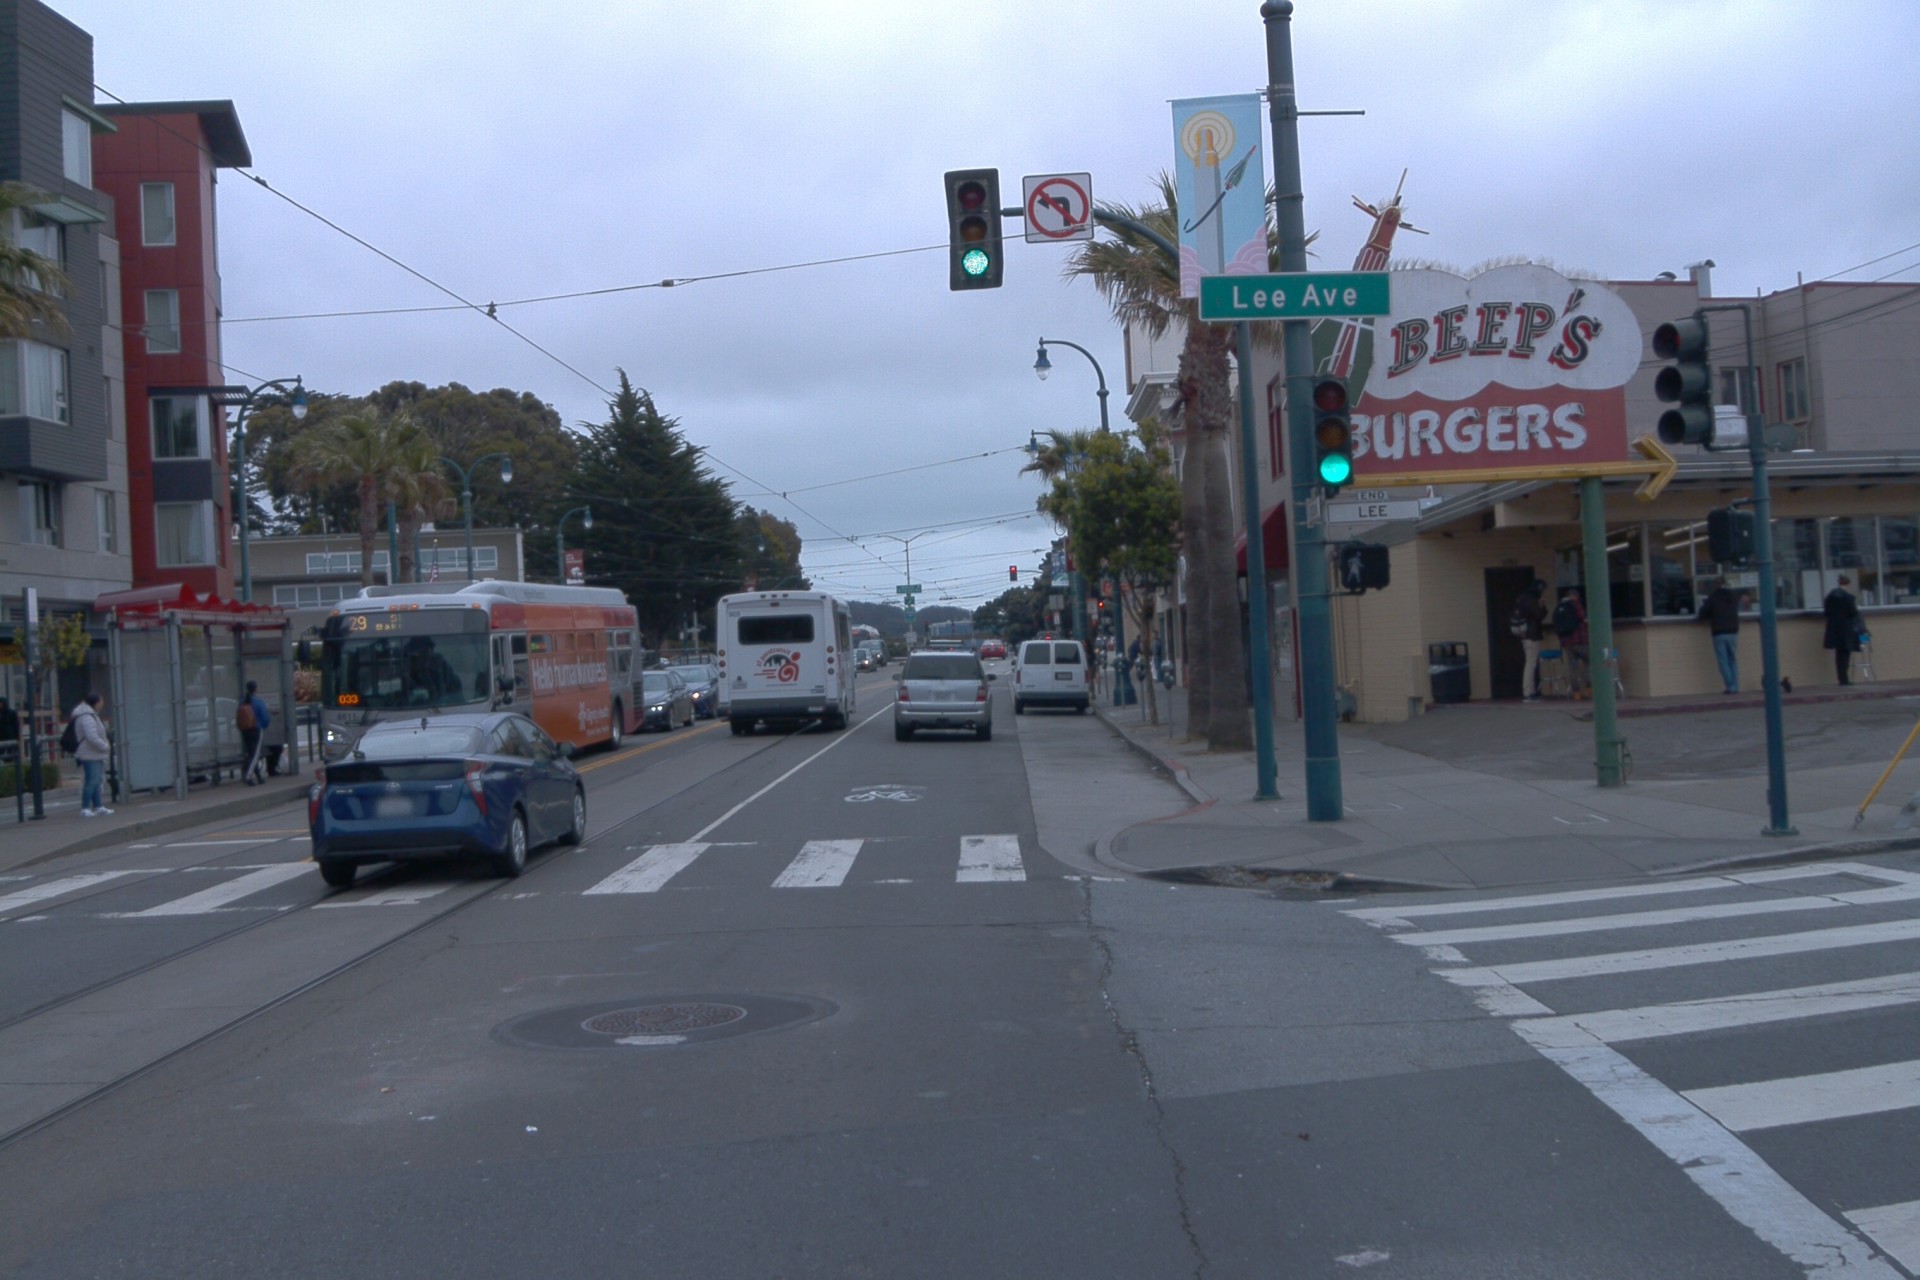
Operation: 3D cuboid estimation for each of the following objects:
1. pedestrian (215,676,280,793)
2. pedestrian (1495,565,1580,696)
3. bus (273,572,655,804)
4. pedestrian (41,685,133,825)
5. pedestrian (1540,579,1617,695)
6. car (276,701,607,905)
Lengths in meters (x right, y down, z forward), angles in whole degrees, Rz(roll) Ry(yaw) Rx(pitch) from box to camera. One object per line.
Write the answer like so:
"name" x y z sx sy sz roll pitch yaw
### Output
"pedestrian" -10.760 1.416 31.071 0.691 1.720 0.677 0 1 5
"pedestrian" 8.833 -0.152 31.453 0.829 1.970 0.942 -1 1 -26
"bus" -8.160 0.594 36.291 3.228 3.350 12.910 0 1 2
"pedestrian" -11.195 1.458 26.366 0.856 1.700 0.979 -1 1 -36
"pedestrian" 9.297 -0.050 30.938 0.819 1.710 0.859 0 1 -8
"car" -4.780 1.453 19.626 1.972 1.540 4.259 0 1 2
